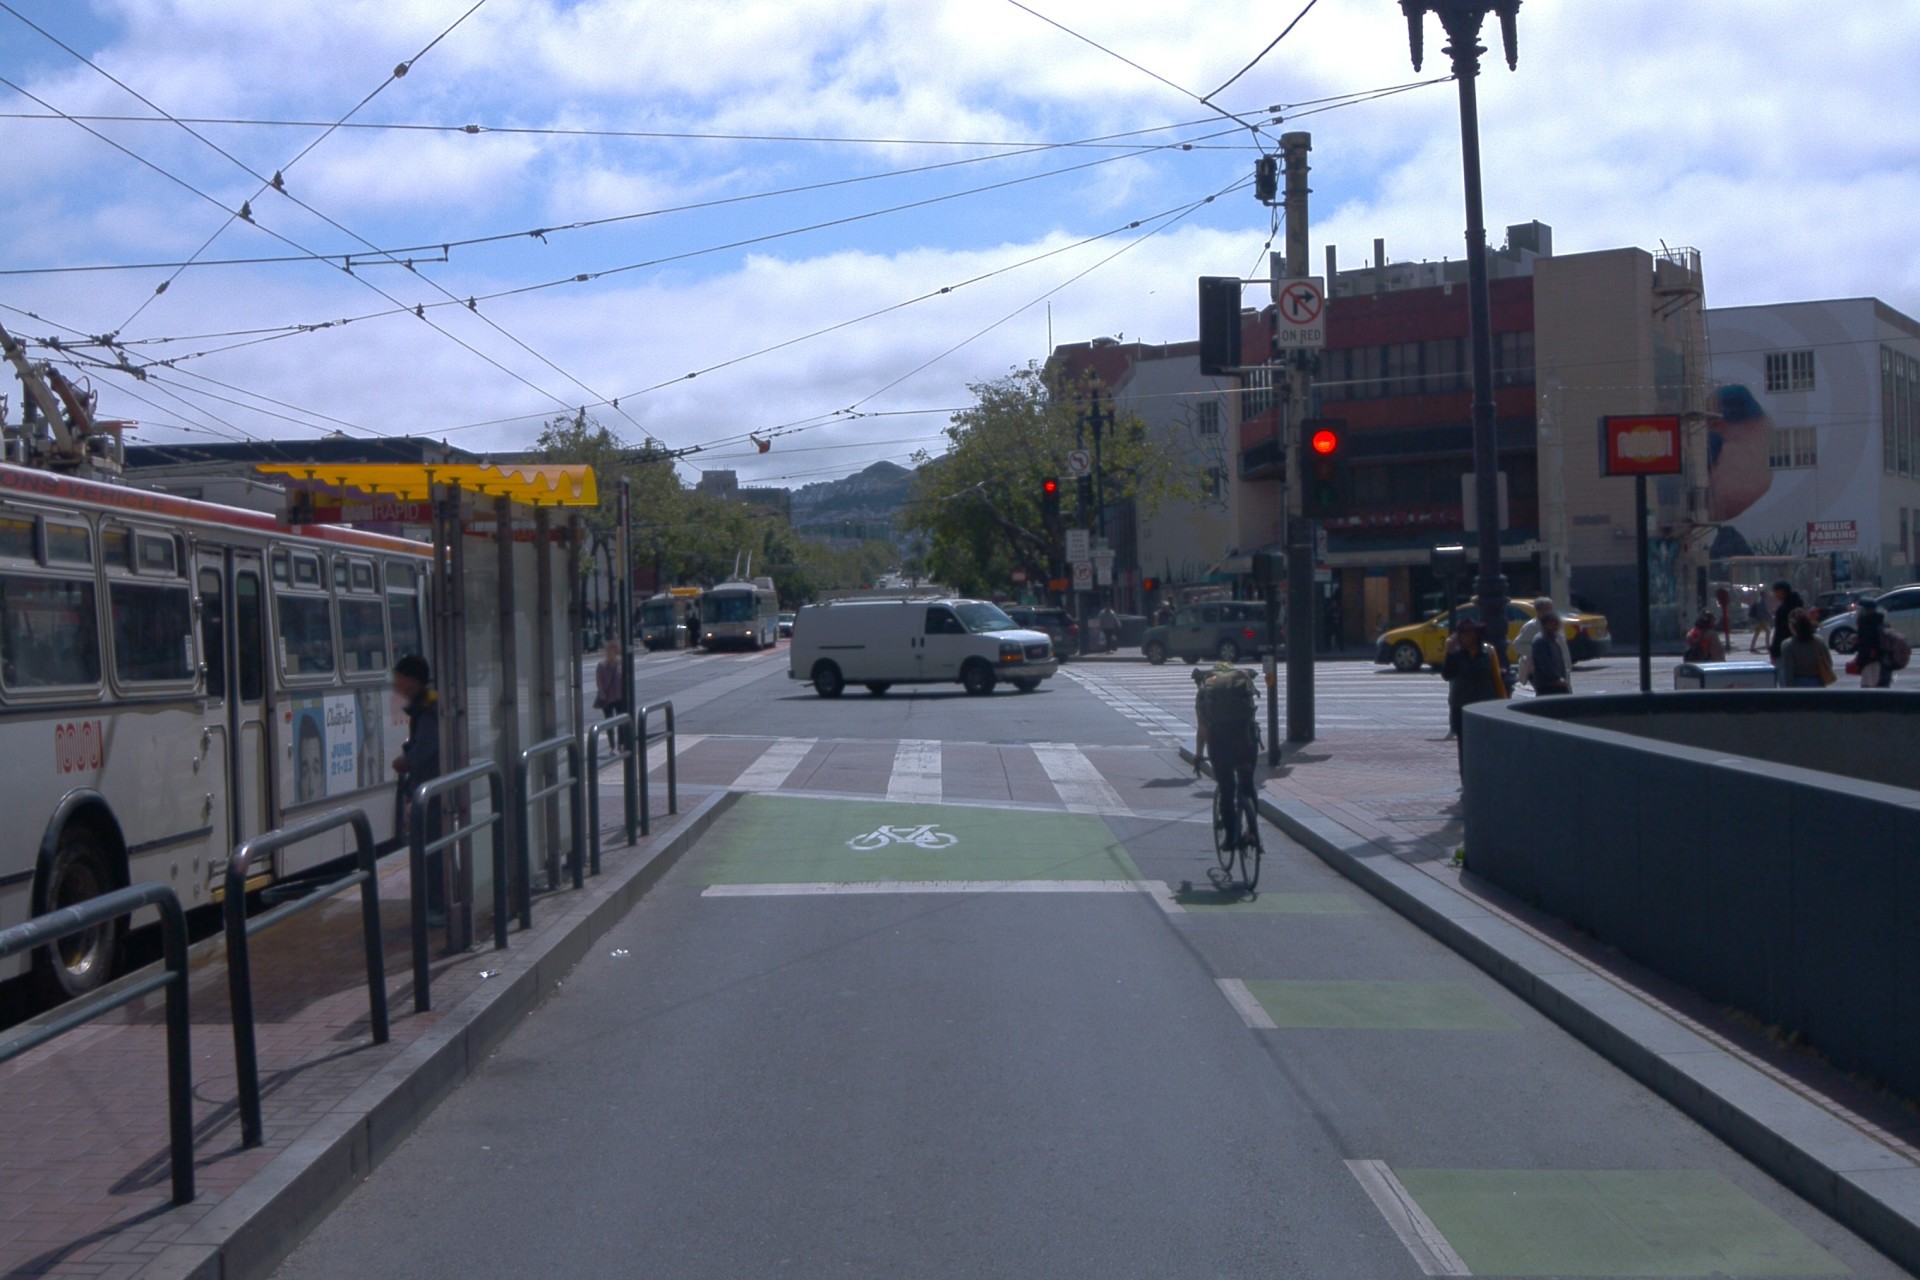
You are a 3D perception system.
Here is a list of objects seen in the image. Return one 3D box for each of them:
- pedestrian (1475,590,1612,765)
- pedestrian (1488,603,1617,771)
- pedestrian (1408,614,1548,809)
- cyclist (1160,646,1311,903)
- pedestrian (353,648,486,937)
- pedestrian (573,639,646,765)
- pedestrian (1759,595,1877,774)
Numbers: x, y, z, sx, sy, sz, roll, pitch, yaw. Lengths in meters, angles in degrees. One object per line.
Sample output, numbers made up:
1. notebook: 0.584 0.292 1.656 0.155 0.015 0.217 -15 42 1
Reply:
1. pedestrian: 6.717 0.409 23.679 1.082 1.960 1.059 -1 1 -34
2. pedestrian: 6.583 0.499 22.845 1.084 1.820 0.884 1 1 45
3. pedestrian: 4.739 0.635 18.843 1.044 1.750 0.818 0 1 -3
4. cyclist: 2.021 0.945 15.302 0.806 1.770 1.802 0 1 -2
5. pedestrian: -3.231 0.892 12.327 0.667 1.680 0.622 0 1 -4
6. pedestrian: -4.943 0.854 28.969 0.794 1.720 0.941 -1 1 -24
7. pedestrian: 8.534 0.431 20.474 0.756 1.740 0.858 0 1 -7
